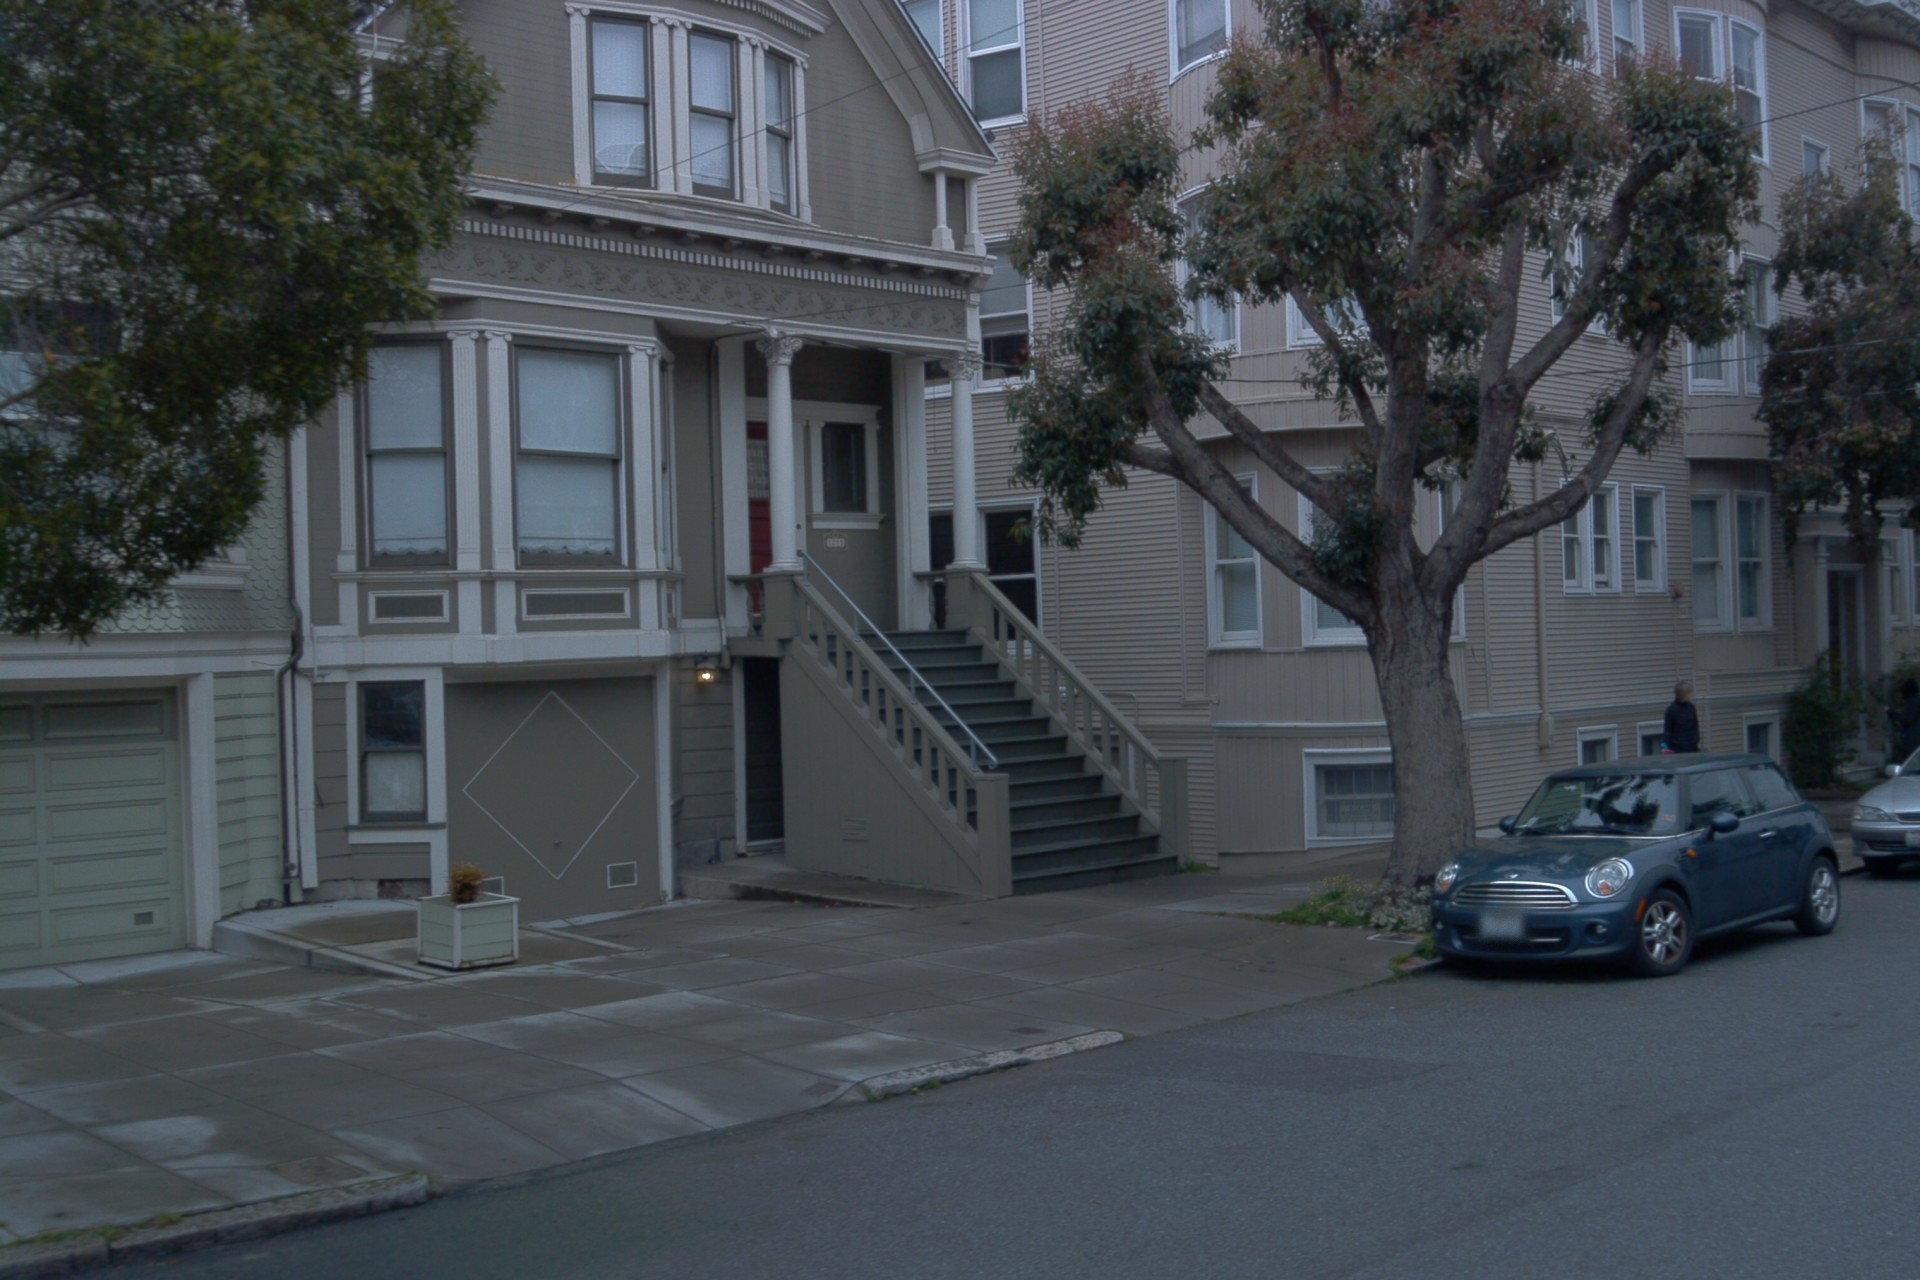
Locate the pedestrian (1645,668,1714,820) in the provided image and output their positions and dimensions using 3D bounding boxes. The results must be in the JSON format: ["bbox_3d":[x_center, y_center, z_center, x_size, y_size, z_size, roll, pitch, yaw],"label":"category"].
[{"bbox_3d":[9.051,1.297,25.792,0.647,1.860,0.575,-1,1,-44],"label":"pedestrian"}]

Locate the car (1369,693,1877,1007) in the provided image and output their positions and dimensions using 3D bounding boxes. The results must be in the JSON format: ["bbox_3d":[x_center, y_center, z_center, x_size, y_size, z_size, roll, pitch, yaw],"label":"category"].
[{"bbox_3d":[4.888,1.374,14.873,3.811,1.830,1.889,0,1,-43],"label":"car"}]
